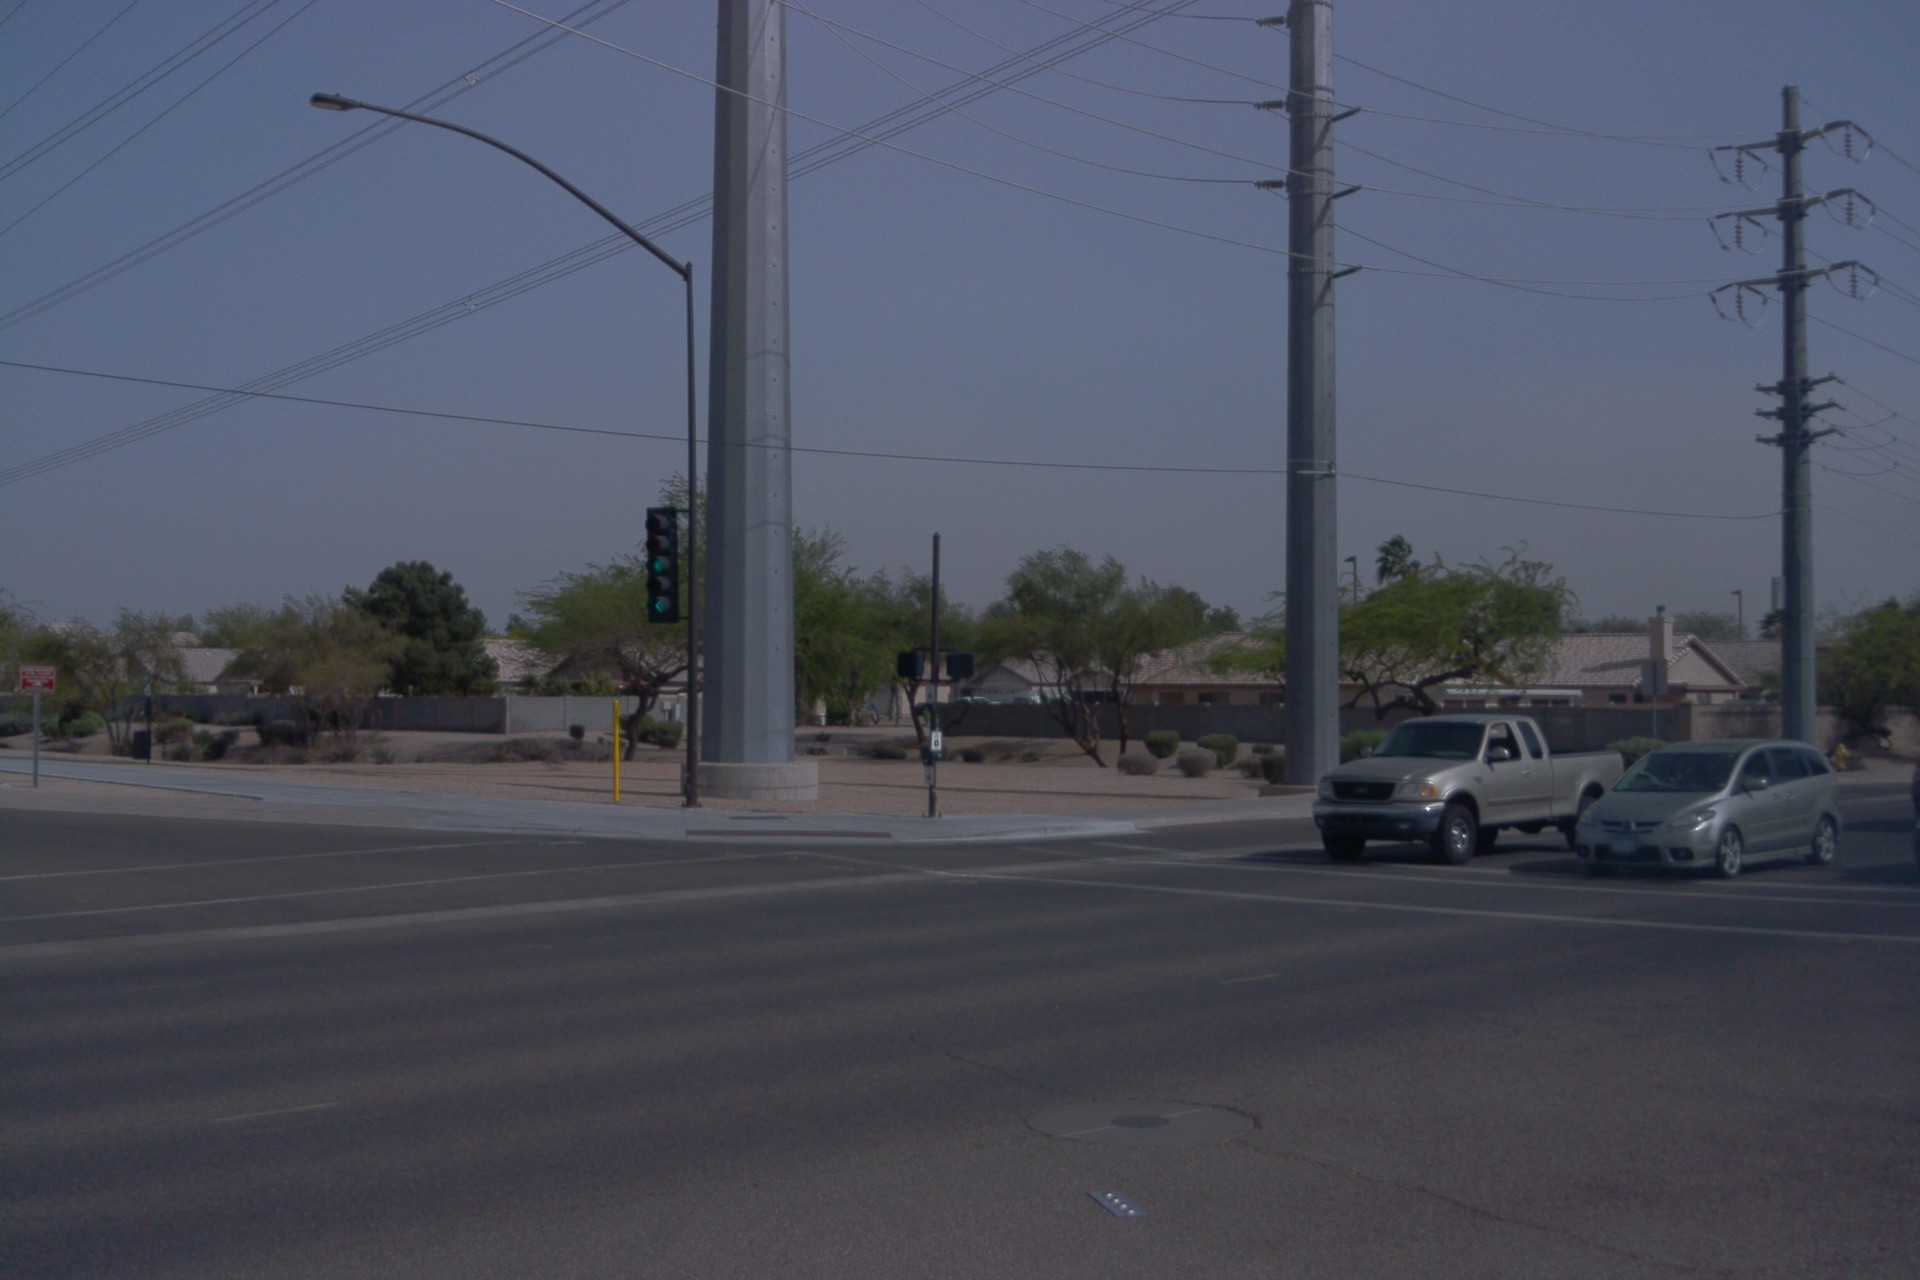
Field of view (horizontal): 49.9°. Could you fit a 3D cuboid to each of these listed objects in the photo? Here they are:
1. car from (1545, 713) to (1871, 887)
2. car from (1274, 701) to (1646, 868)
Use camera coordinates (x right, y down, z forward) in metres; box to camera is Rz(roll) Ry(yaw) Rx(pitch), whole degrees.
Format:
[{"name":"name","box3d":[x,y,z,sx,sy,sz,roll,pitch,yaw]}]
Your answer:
[{"name":"car","box3d":[9.299,1.876,25.451,2.013,1.830,4.626,0,-1,45]},{"name":"car","box3d":[7.012,1.879,28.478,2.332,1.960,5.763,0,-1,45]}]
